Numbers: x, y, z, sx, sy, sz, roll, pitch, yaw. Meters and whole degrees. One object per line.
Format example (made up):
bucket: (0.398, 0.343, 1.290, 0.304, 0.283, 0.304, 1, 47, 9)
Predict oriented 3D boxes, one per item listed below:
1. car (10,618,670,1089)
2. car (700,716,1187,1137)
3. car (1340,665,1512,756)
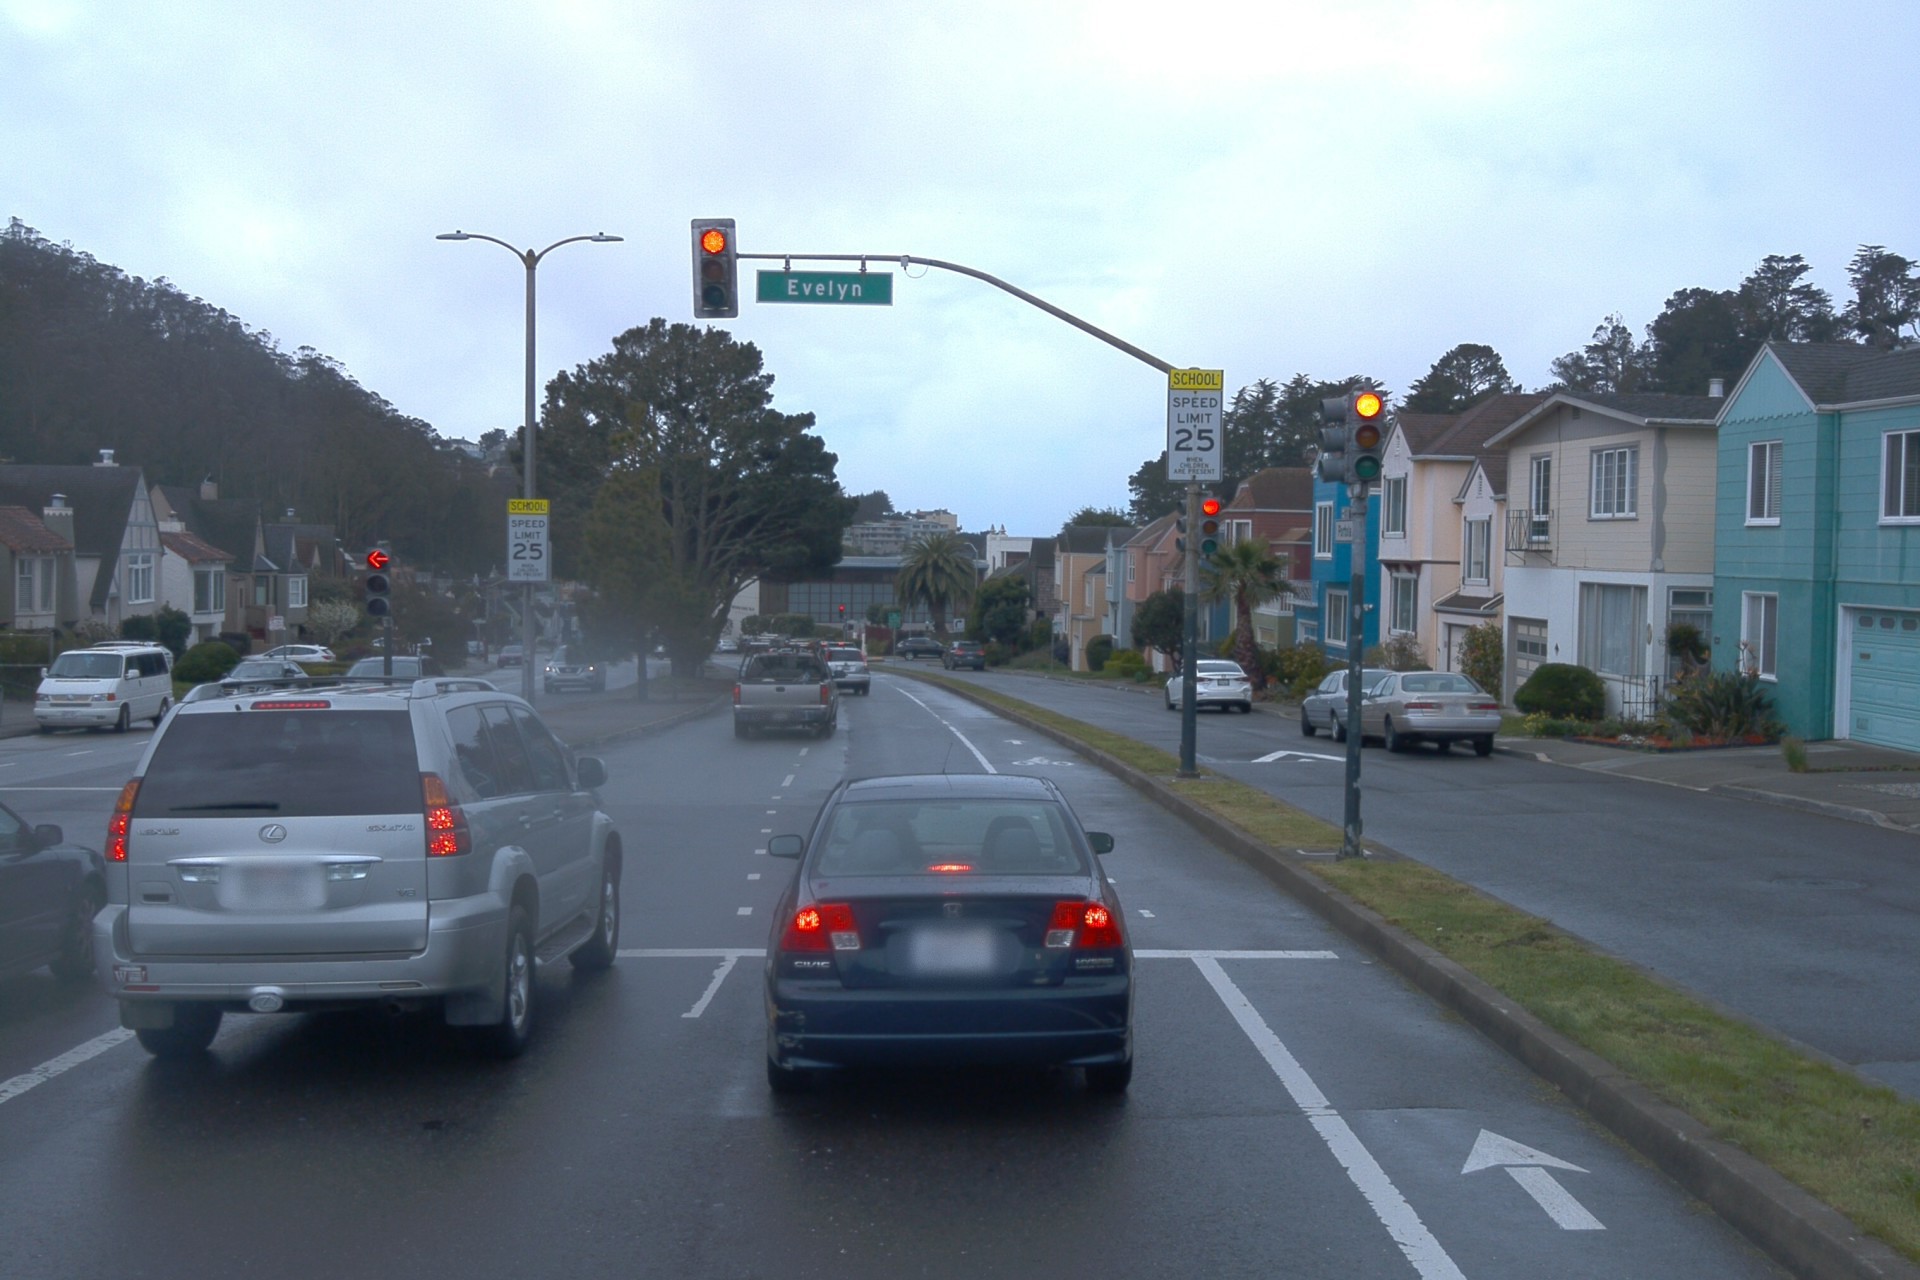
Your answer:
car: (-3.060, 0.938, 11.437, 2.249, 2.070, 4.734, 0, 0, 0)
car: (-0.109, 1.252, 10.549, 2.004, 1.570, 4.164, 0, 0, -1)
car: (8.081, 1.186, 36.133, 1.755, 1.440, 4.469, 0, 0, -4)
